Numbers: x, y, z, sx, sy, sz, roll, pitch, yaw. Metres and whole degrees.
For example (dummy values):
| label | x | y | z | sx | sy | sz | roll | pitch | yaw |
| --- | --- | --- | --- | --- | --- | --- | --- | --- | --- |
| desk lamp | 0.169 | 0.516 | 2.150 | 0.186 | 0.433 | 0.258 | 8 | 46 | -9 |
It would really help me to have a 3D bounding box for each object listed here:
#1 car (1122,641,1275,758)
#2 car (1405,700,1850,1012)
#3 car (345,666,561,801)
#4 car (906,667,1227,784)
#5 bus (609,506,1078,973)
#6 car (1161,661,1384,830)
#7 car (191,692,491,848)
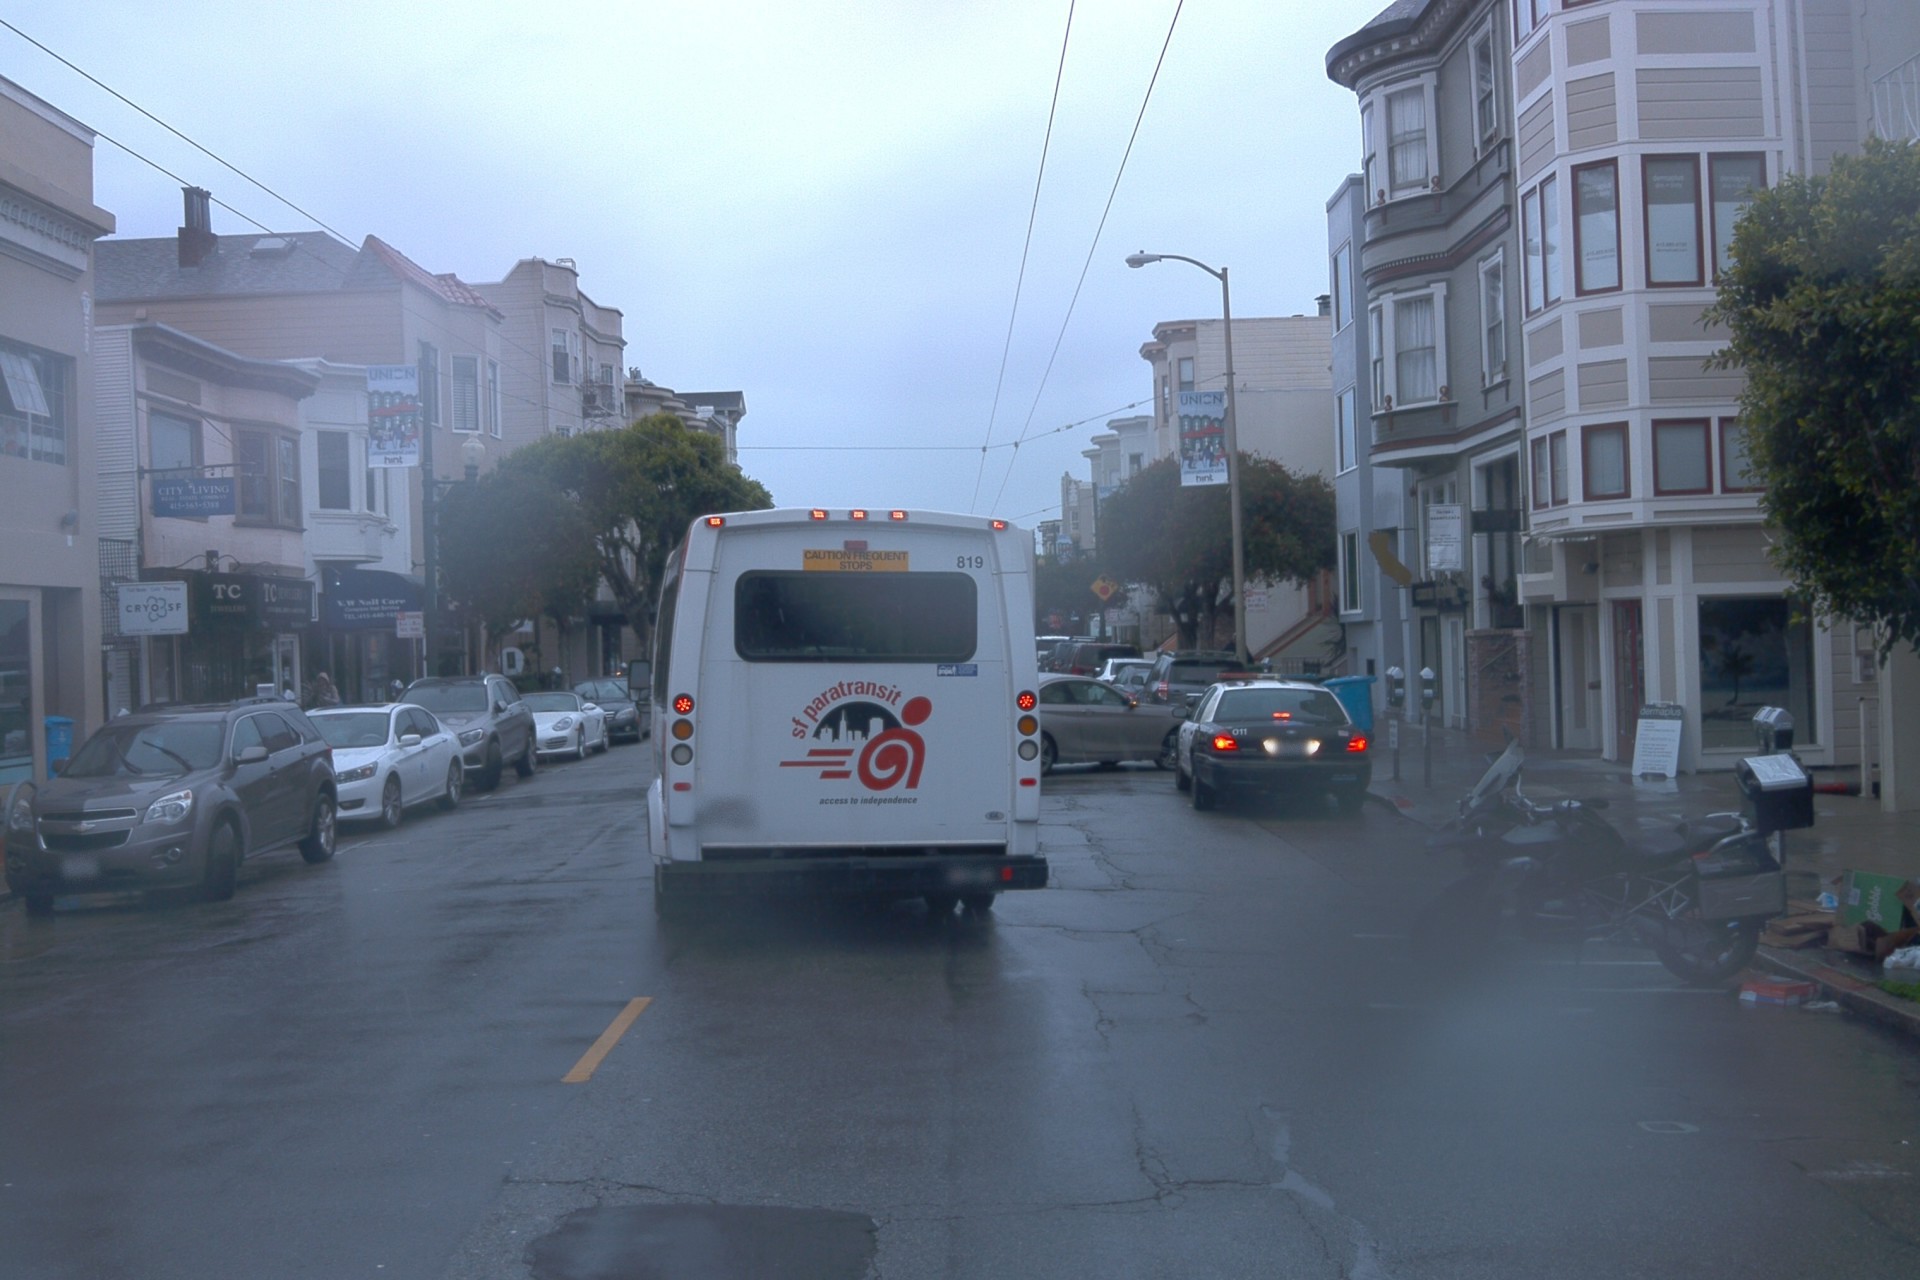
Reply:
| label | x | y | z | sx | sy | sz | roll | pitch | yaw |
| --- | --- | --- | --- | --- | --- | --- | --- | --- | --- |
| car | 3.963 | 0.944 | 34.957 | 2.116 | 1.790 | 4.480 | 1 | 1 | 1 |
| car | 3.855 | 1.217 | 12.145 | 2.374 | 1.650 | 1.013 | 1 | 1 | 12 |
| car | -7.594 | 1.345 | 31.379 | 2.149 | 1.760 | 4.917 | 1 | 1 | -1 |
| car | 1.579 | 1.167 | 29.535 | 4.446 | 1.470 | 1.881 | 0 | 1 | -38 |
| bus | -1.259 | 0.580 | 16.118 | 2.784 | 2.850 | 6.713 | 0 | 1 | -11 |
| car | 3.620 | 1.158 | 24.830 | 2.108 | 1.690 | 5.363 | 1 | 1 | 3 |
| car | -7.546 | 1.524 | 25.733 | 2.131 | 1.540 | 5.132 | 1 | 1 | 1 |
